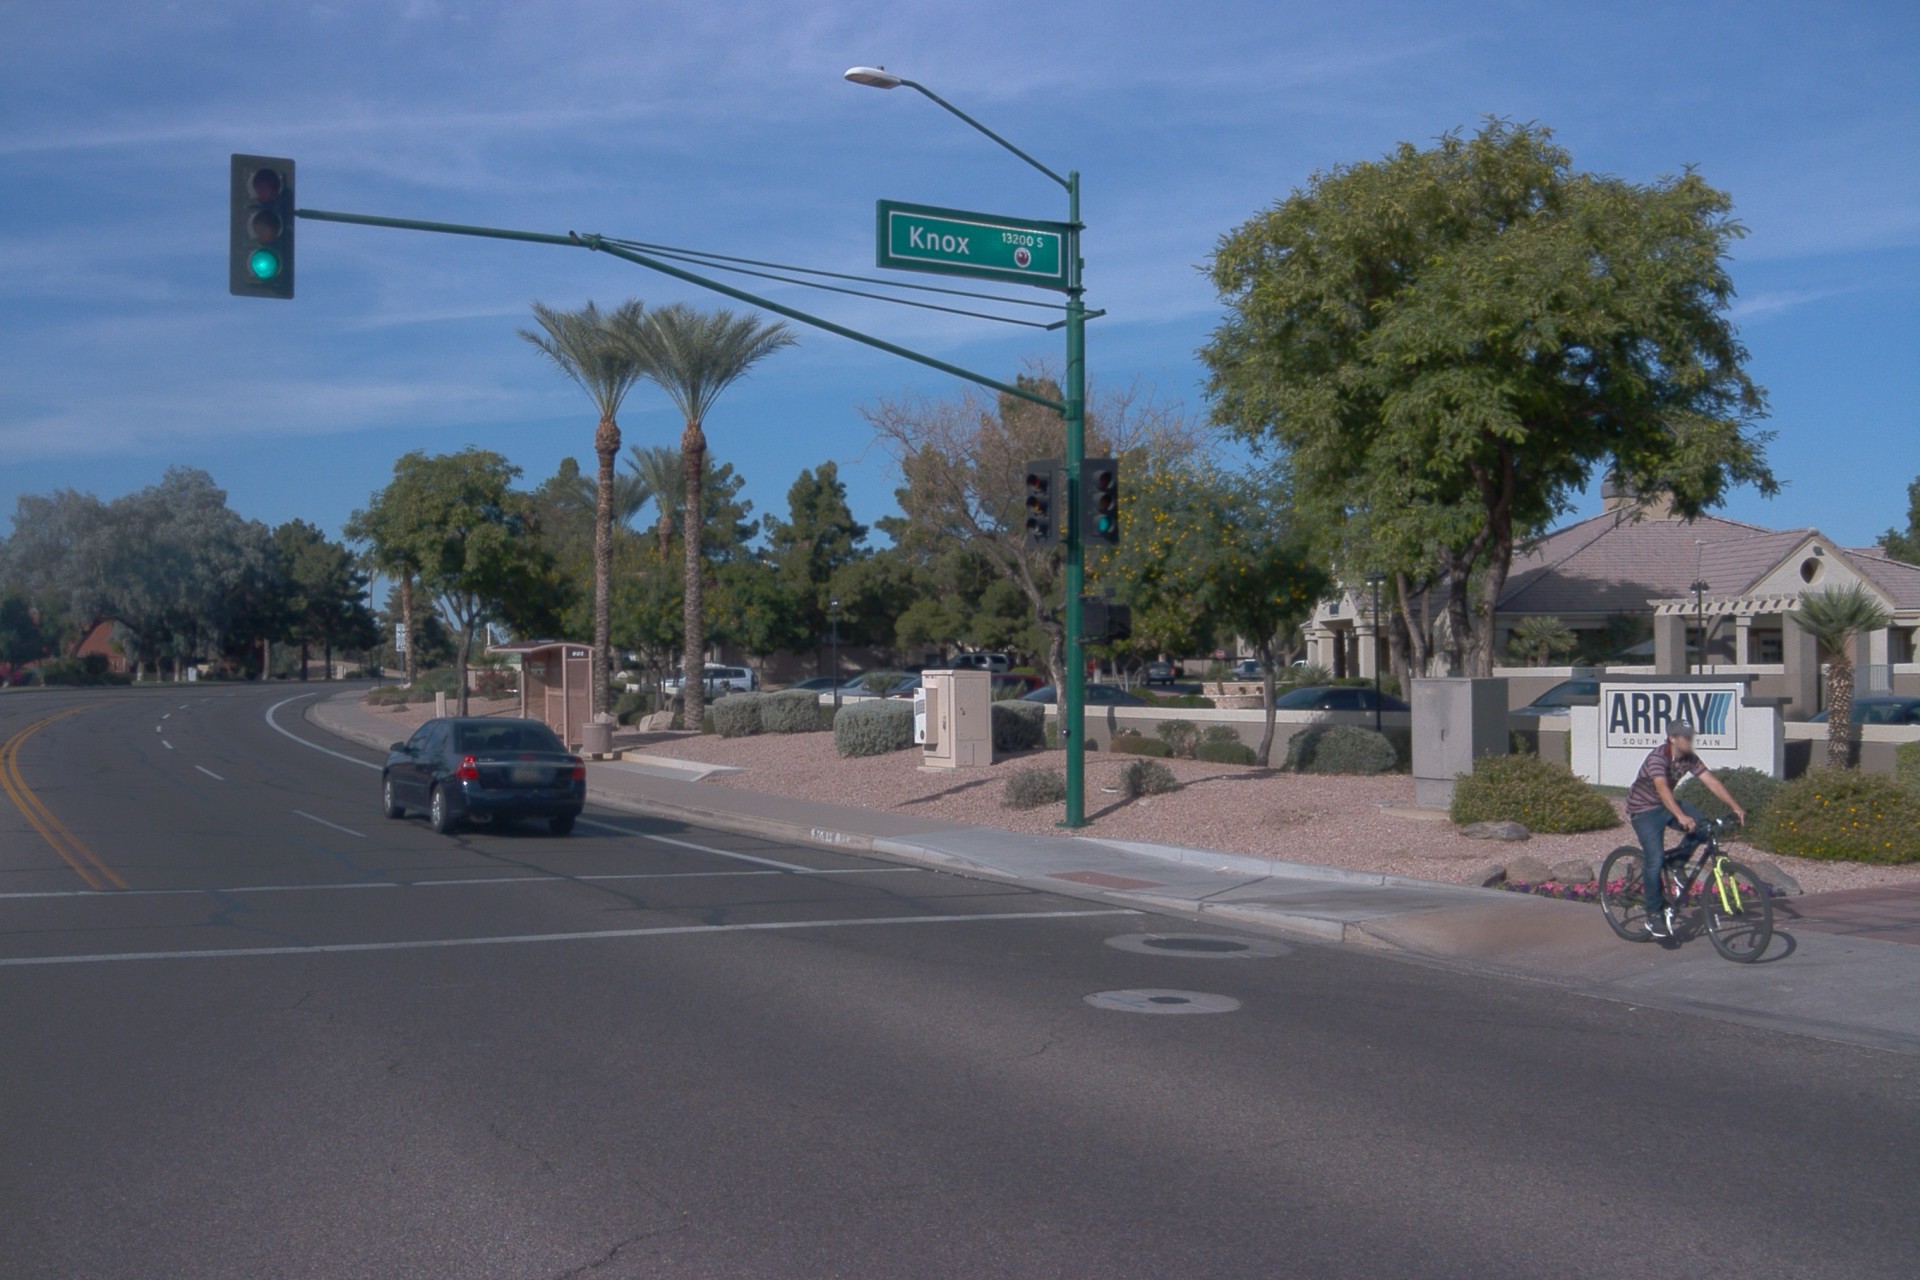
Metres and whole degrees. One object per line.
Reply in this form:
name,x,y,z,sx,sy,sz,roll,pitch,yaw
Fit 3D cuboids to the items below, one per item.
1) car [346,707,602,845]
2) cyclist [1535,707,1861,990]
car,-6.347,1.666,26.756,2.042,1.530,4.656,1,-1,-28
cyclist,5.305,1.431,15.104,1.003,1.860,2.074,1,-1,-29
